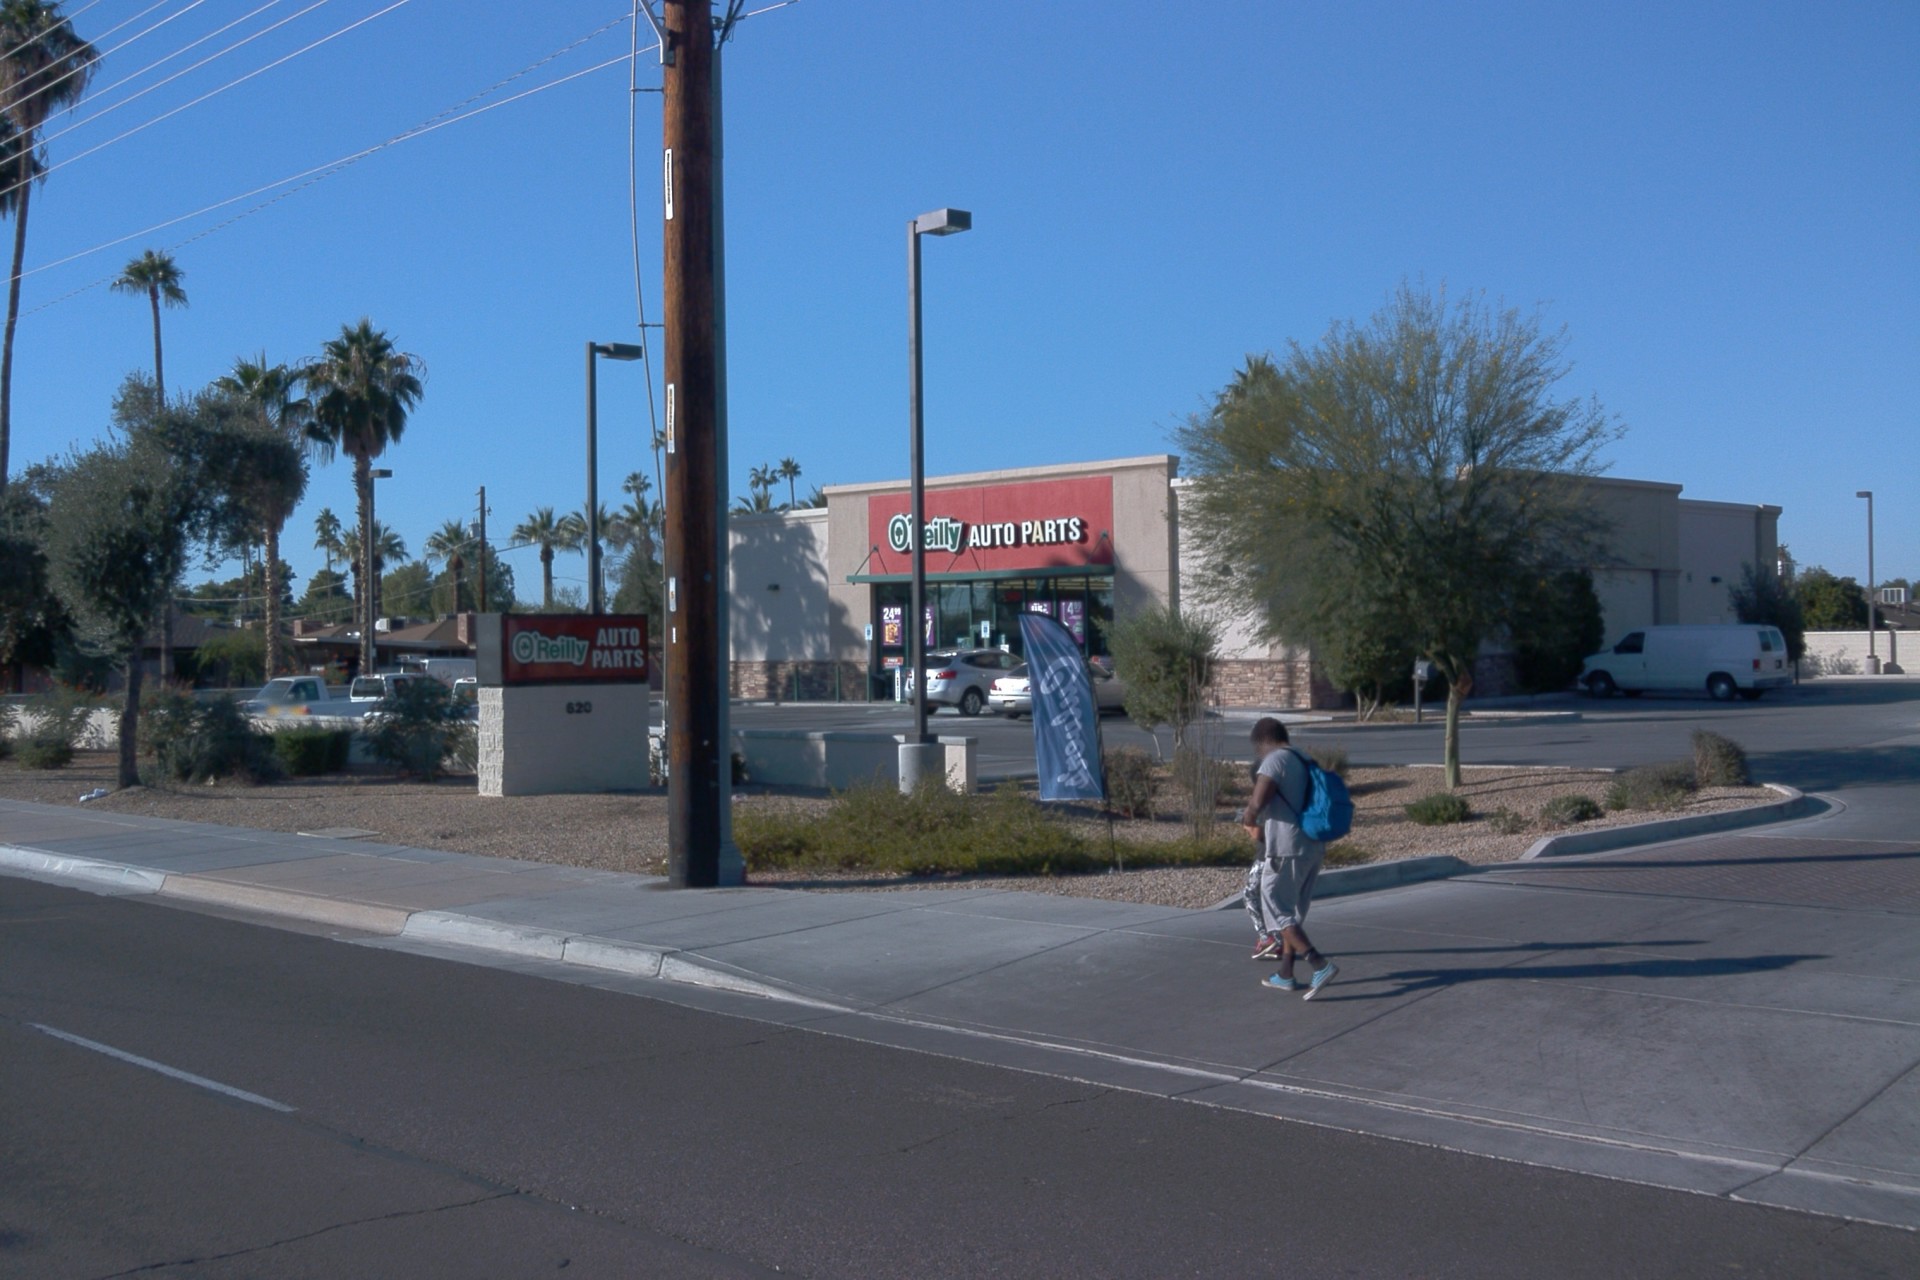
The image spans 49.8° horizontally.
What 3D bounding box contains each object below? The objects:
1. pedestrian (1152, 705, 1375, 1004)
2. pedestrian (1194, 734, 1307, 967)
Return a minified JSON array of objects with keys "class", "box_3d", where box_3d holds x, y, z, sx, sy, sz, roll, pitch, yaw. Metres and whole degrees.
[{"class":"pedestrian","box_3d":[1.824,1.242,12.443,0.935,1.680,0.938,0,-1,-44]},{"class":"pedestrian","box_3d":[1.871,1.342,13.376,0.646,1.440,0.671,0,0,2]}]
